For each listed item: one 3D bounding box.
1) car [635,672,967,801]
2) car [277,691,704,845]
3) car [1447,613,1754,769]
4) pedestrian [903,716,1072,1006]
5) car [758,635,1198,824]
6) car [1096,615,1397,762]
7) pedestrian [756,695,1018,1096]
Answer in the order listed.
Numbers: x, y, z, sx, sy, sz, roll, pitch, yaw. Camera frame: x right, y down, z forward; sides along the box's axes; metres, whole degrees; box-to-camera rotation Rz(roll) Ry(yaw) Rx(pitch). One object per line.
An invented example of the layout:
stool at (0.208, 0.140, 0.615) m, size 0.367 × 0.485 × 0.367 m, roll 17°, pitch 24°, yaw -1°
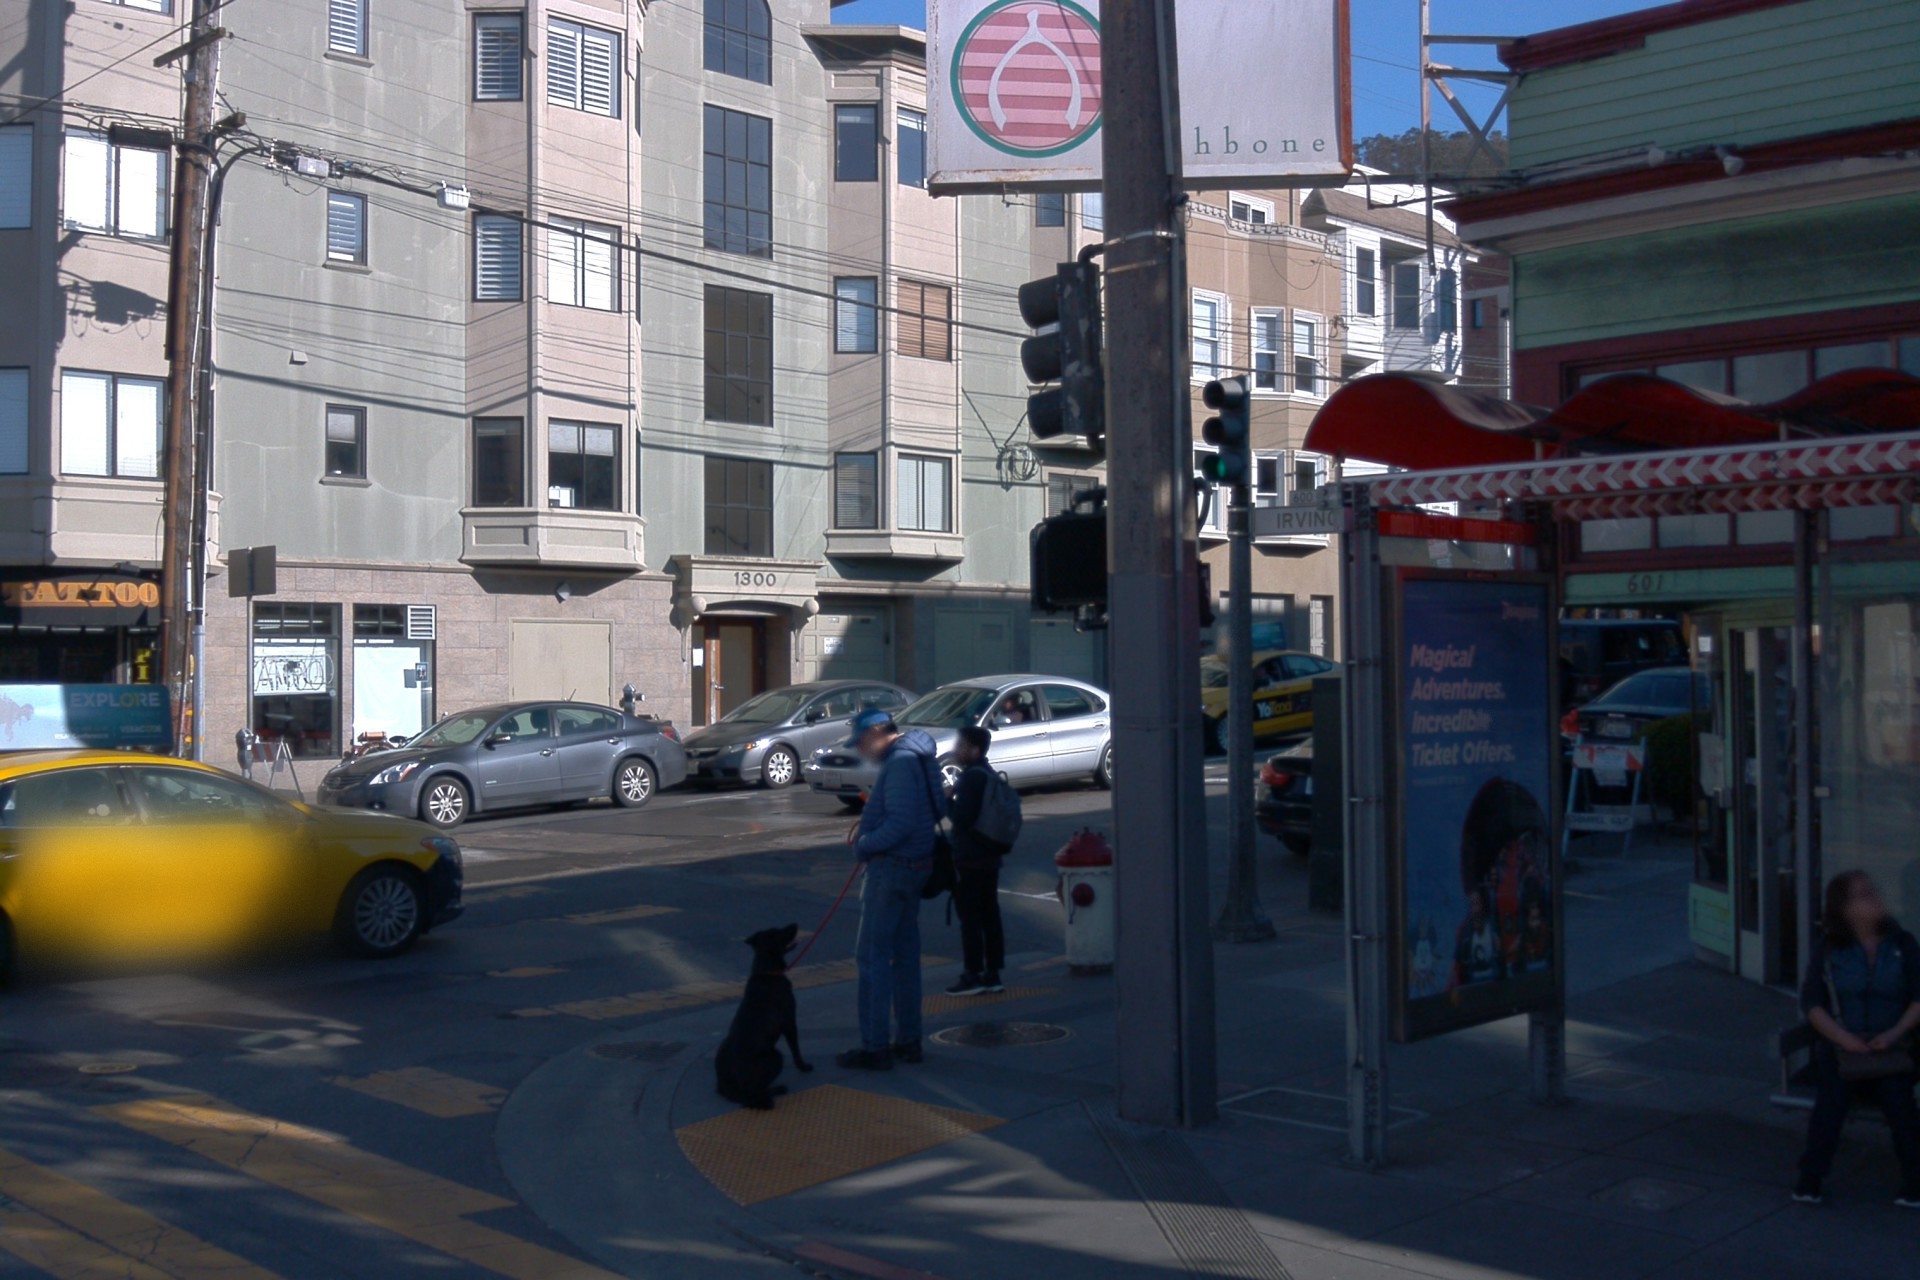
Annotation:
car at (-2.217, 1.319, 30.143) m, size 2.102 × 1.670 × 4.524 m, roll 0°, pitch 0°, yaw 43°
car at (-5.778, 1.515, 26.271) m, size 2.149 × 1.660 × 4.833 m, roll 0°, pitch 0°, yaw 44°
car at (9.027, 0.669, 29.273) m, size 2.072 × 1.990 × 4.910 m, roll 1°, pitch 0°, yaw 44°
pedestrian at (0.167, 1.341, 13.044) m, size 0.687 × 1.700 × 0.778 m, roll 0°, pitch 0°, yaw -43°
car at (0.303, 0.986, 25.144) m, size 5.034 × 2.030 × 2.283 m, roll 1°, pitch 0°, yaw -42°
car at (4.488, 0.710, 32.356) m, size 4.772 × 2.100 × 2.070 m, roll 1°, pitch 0°, yaw -44°
pedestrian at (-0.361, 1.223, 10.531) m, size 0.894 × 1.860 × 0.955 m, roll 1°, pitch 0°, yaw 39°
